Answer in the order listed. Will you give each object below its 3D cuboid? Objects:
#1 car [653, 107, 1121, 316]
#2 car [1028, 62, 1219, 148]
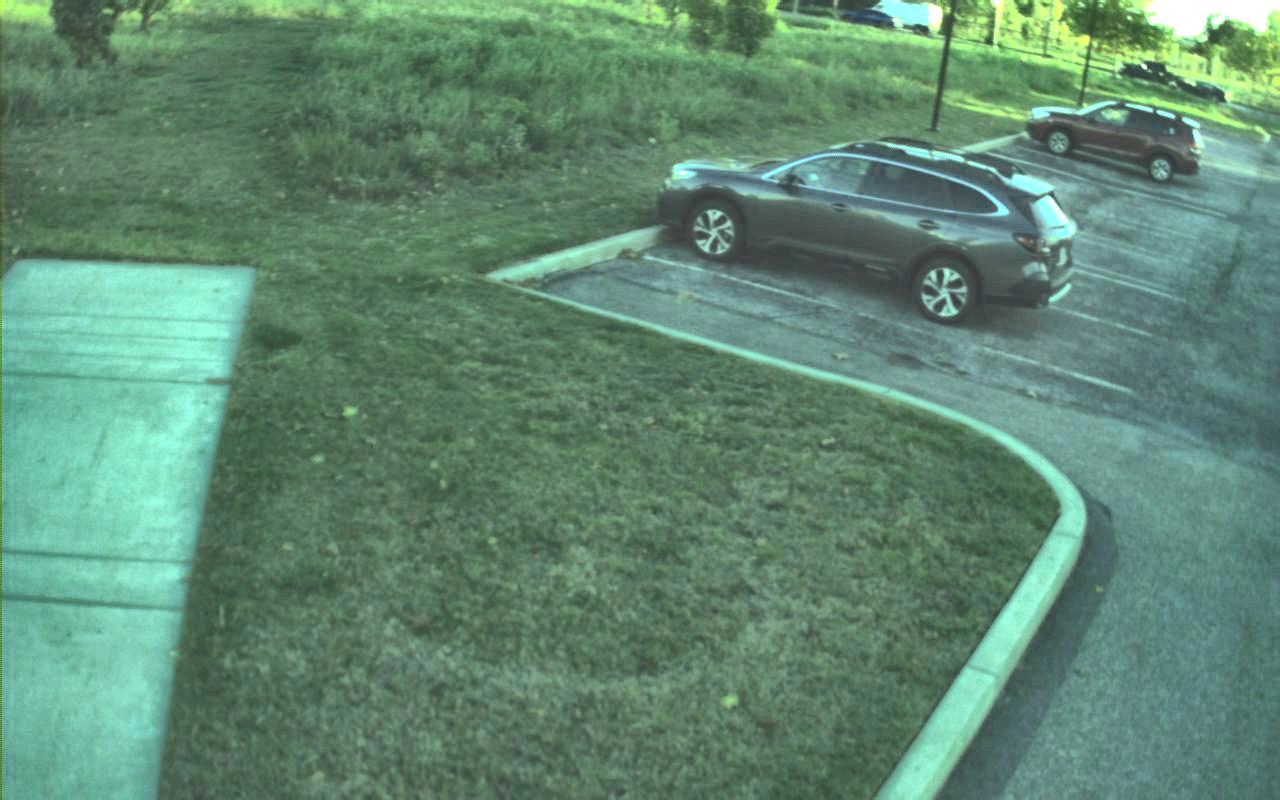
[{"bbox_3d":[2.745,-2.206,13.517,4.815,1.728,2.047,9,18,30],"label":"car"},{"bbox_3d":[11.906,-7.215,28.444,4.769,1.716,2.036,7,18,27],"label":"car"}]
